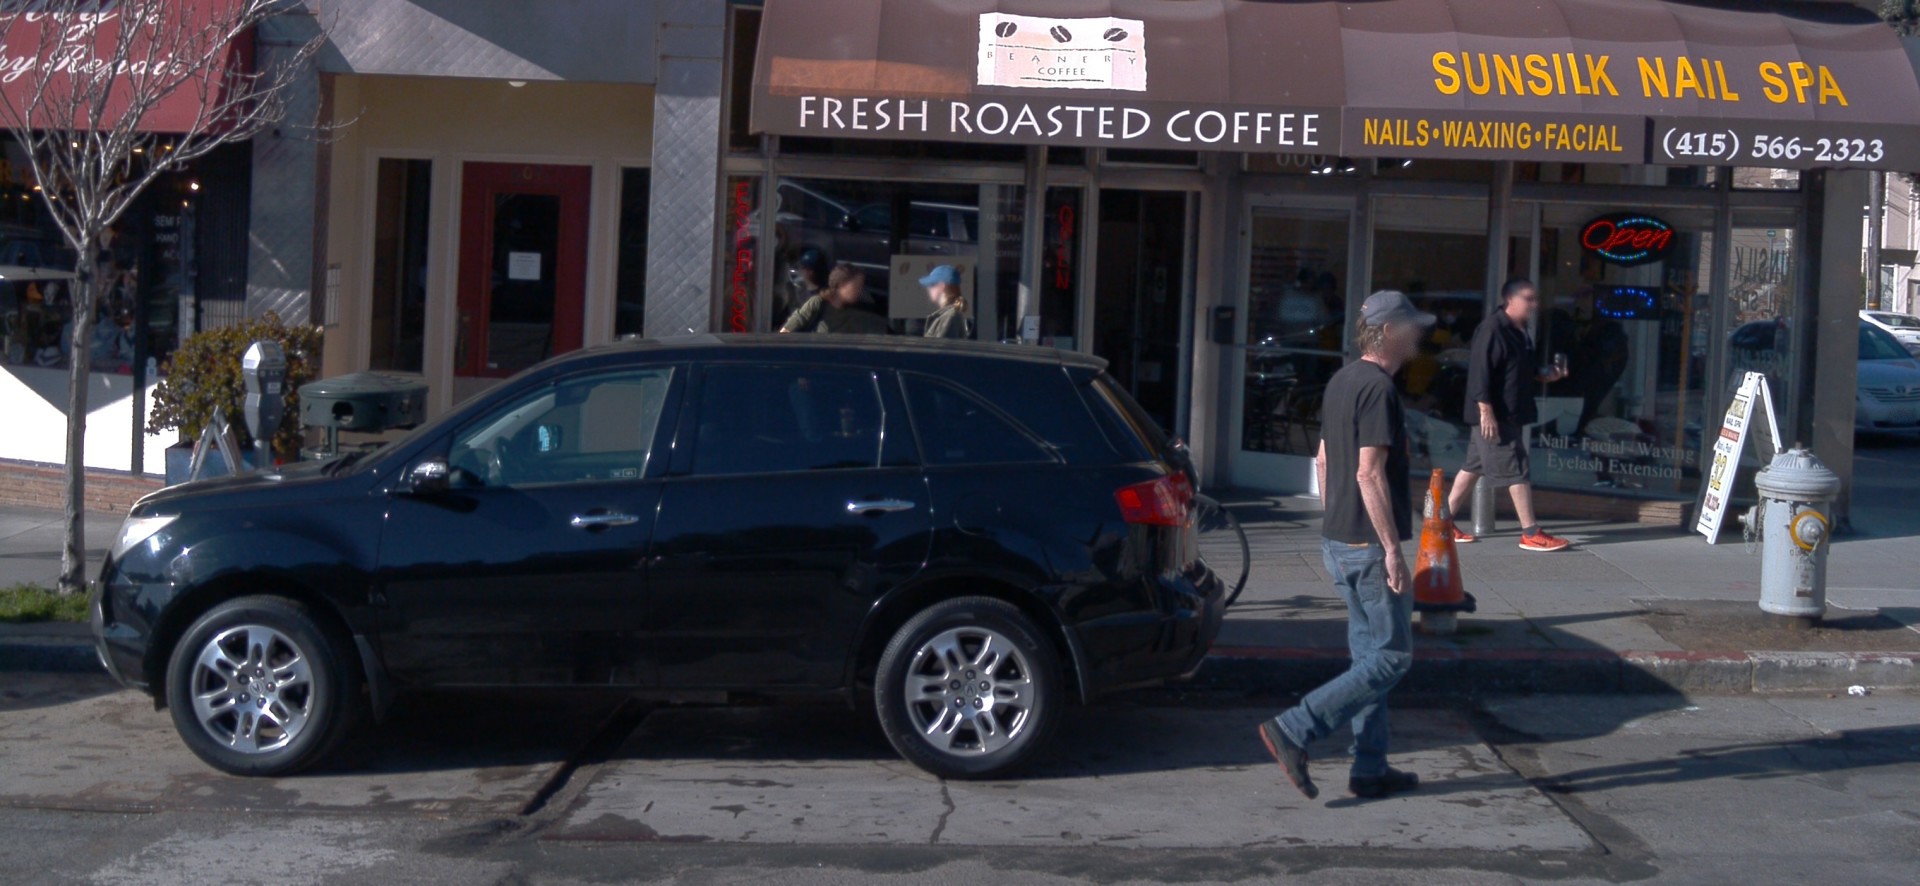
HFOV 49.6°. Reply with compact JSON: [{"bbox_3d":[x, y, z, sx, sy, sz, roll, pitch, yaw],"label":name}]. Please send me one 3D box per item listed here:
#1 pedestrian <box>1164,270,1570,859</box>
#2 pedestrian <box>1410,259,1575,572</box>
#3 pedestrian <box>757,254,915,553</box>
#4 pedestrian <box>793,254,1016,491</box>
[{"bbox_3d":[1.497,0.376,7.766,1.199,2.006,0.871,0,2,-18],"label":"pedestrian"},{"bbox_3d":[3.416,-0.215,13.277,0.930,1.876,0.937,2,2,17],"label":"pedestrian"},{"bbox_3d":[-0.814,-0.294,13.536,0.688,1.856,0.750,-1,2,-42],"label":"pedestrian"},{"bbox_3d":[-0.342,-0.488,13.595,1.342,1.457,0.879,1,3,4],"label":"pedestrian"}]
